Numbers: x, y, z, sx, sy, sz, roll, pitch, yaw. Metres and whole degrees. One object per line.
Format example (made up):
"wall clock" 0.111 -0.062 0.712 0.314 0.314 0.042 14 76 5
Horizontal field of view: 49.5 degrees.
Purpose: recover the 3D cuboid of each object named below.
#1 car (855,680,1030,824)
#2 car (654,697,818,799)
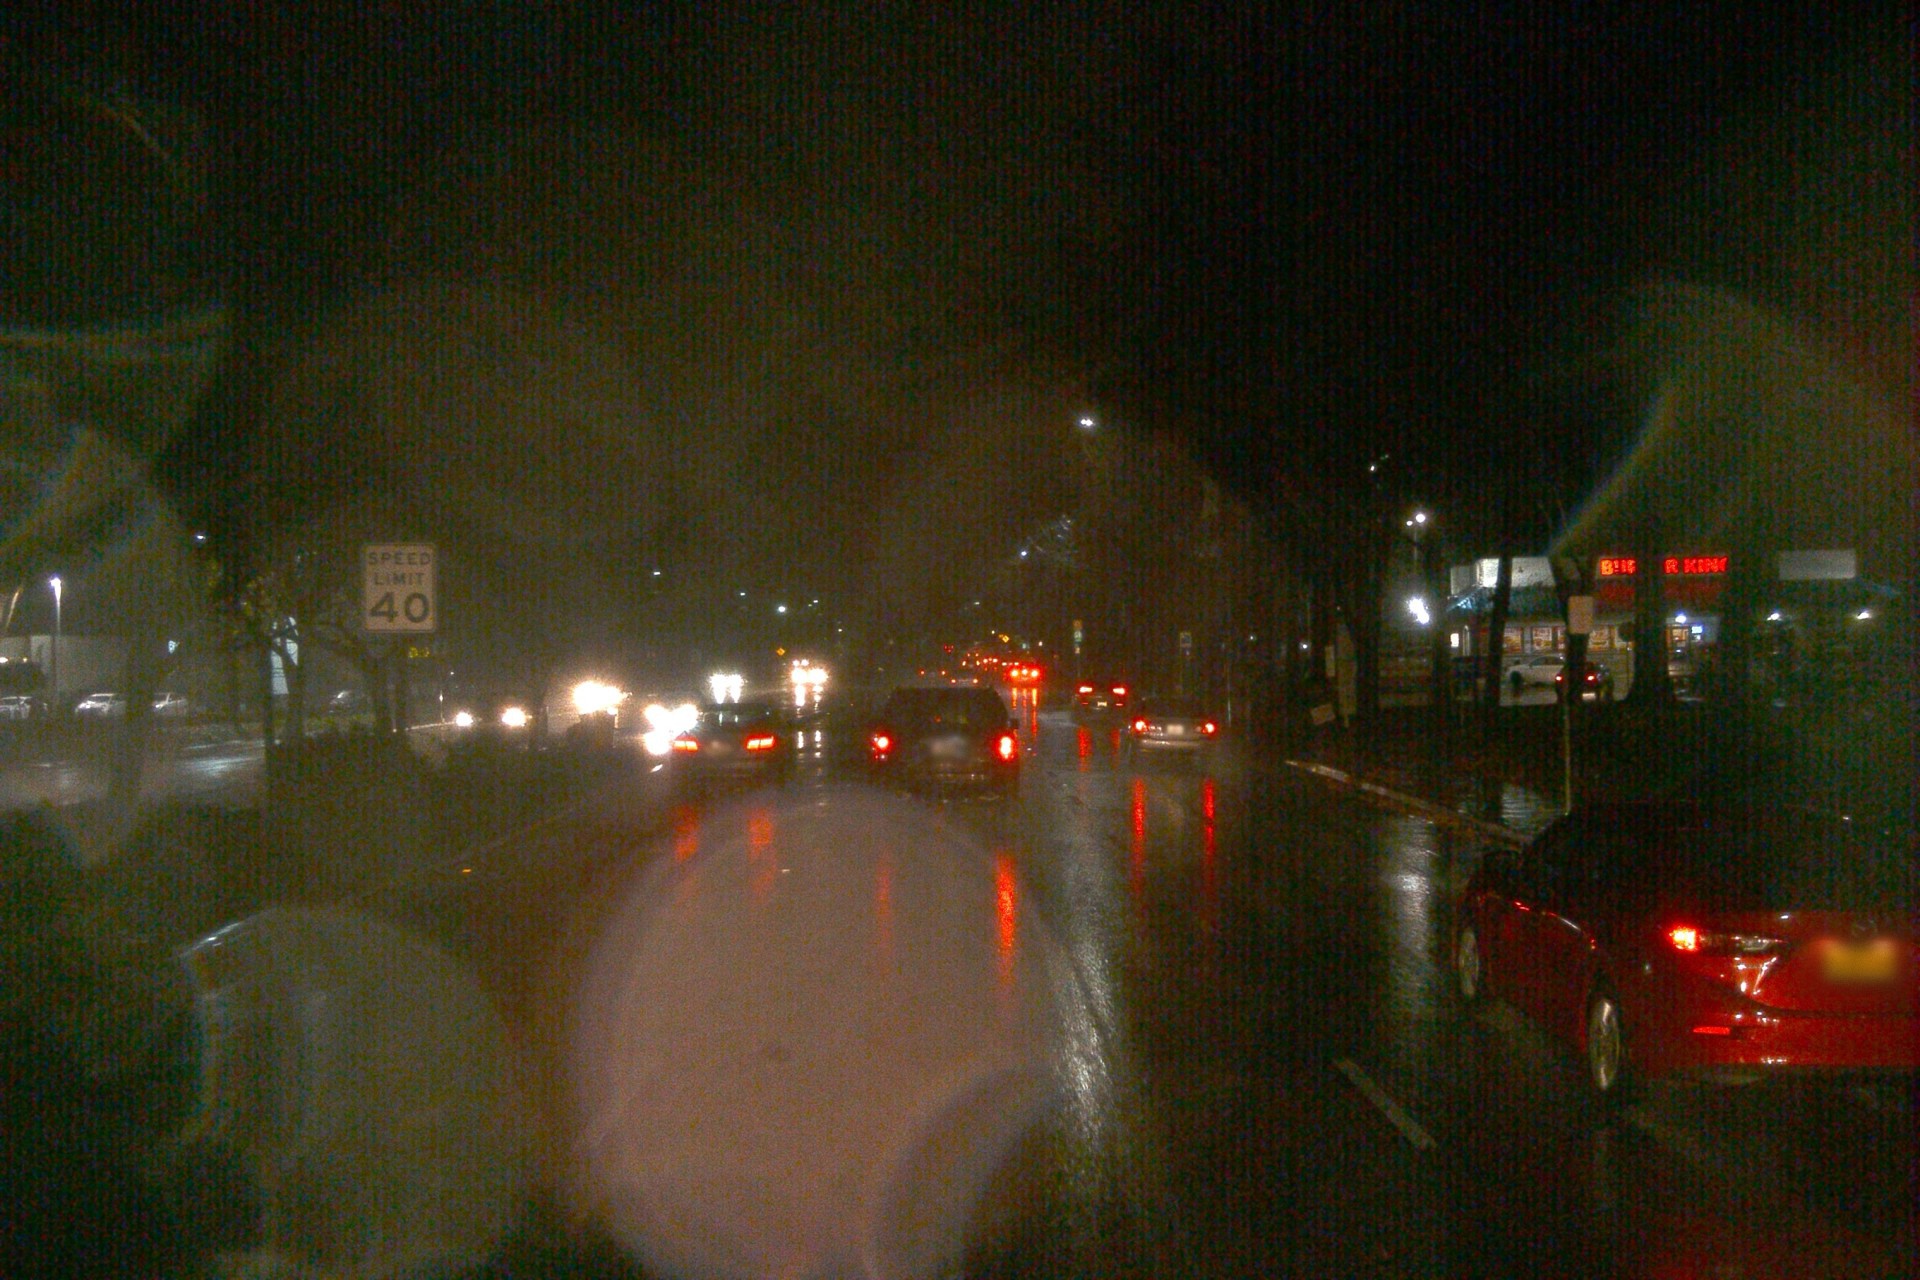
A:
"car" -0.223 1.468 28.742 2.222 1.800 4.381 0 -1 0
"car" -3.746 1.798 35.730 2.307 1.544 4.878 0 -1 0
